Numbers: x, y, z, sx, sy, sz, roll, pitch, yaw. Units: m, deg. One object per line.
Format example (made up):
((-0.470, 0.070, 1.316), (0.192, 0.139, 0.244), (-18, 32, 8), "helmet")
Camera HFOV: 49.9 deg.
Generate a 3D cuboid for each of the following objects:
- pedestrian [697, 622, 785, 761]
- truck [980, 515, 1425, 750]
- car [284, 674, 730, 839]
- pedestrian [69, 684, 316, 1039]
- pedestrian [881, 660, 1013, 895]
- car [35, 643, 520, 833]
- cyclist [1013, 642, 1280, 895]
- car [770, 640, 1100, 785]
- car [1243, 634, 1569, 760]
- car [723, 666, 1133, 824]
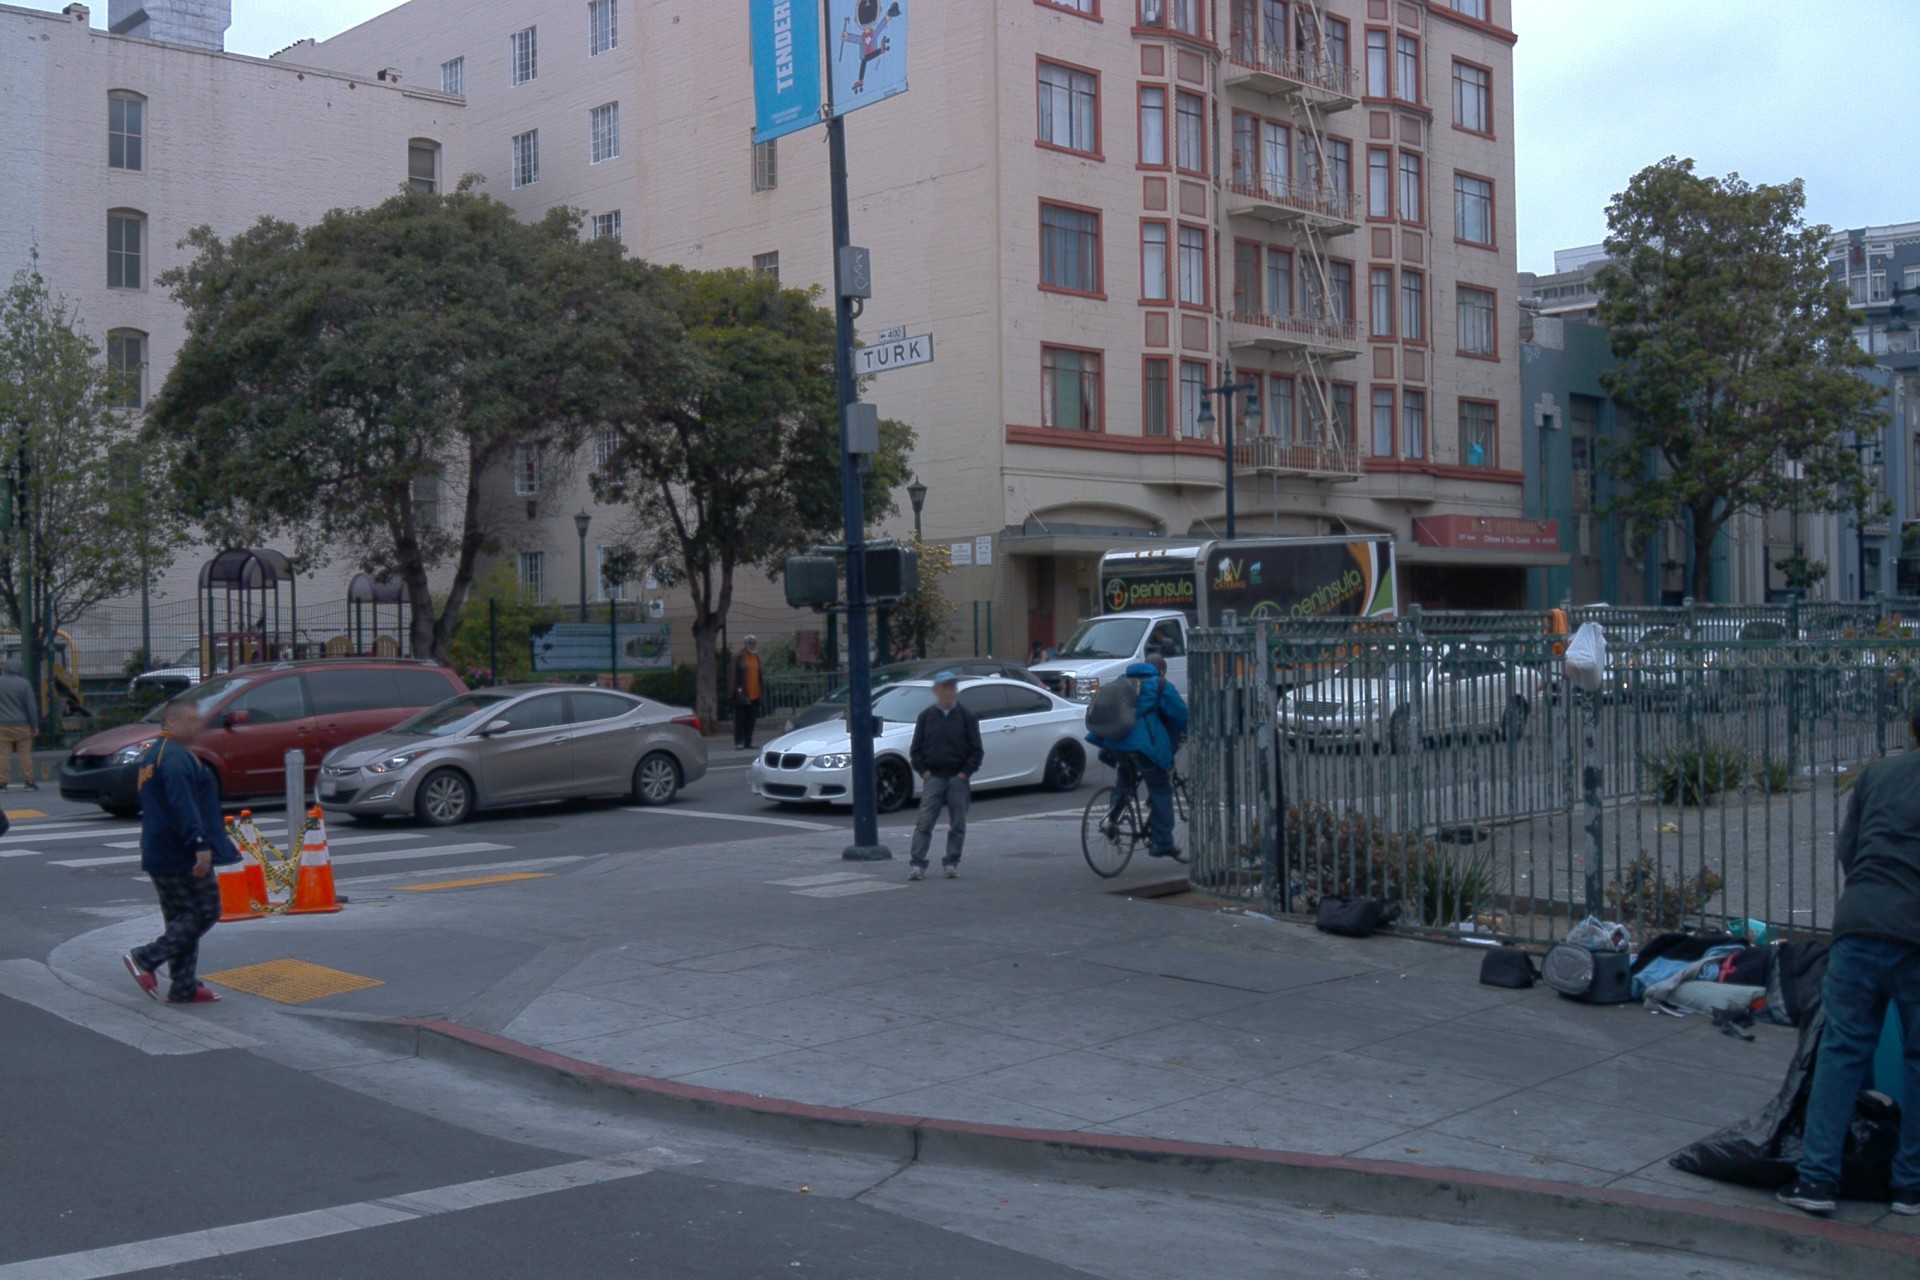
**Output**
((-3.566, 0.816, 33.585), (1.047, 2.200, 1.032), (-1, 1, -35), "pedestrian")
((4.035, -0.142, 33.494), (7.102, 3.420, 2.936), (-1, 1, -37), "truck")
((-4.929, 1.201, 22.890), (4.454, 1.540, 1.957), (-1, 1, -44), "car")
((-4.223, 1.160, 11.356), (1.028, 1.800, 0.913), (-1, 1, -39), "pedestrian")
((-0.088, 0.997, 15.383), (0.779, 1.670, 0.795), (0, 1, 18), "pedestrian")
((-8.015, 1.058, 24.591), (5.046, 1.980, 2.095), (-1, 1, -42), "car")
((1.425, 0.905, 15.541), (1.014, 1.750, 1.949), (1, 1, 43), "cyclist")
((-0.258, 0.884, 27.480), (4.317, 1.730, 1.853), (-1, 1, -45), "car")
((6.533, 0.748, 29.905), (5.013, 1.630, 2.224), (-1, 1, -45), "car")
((-0.271, 1.105, 23.449), (4.584, 1.520, 1.930), (-1, 1, -44), "car")
